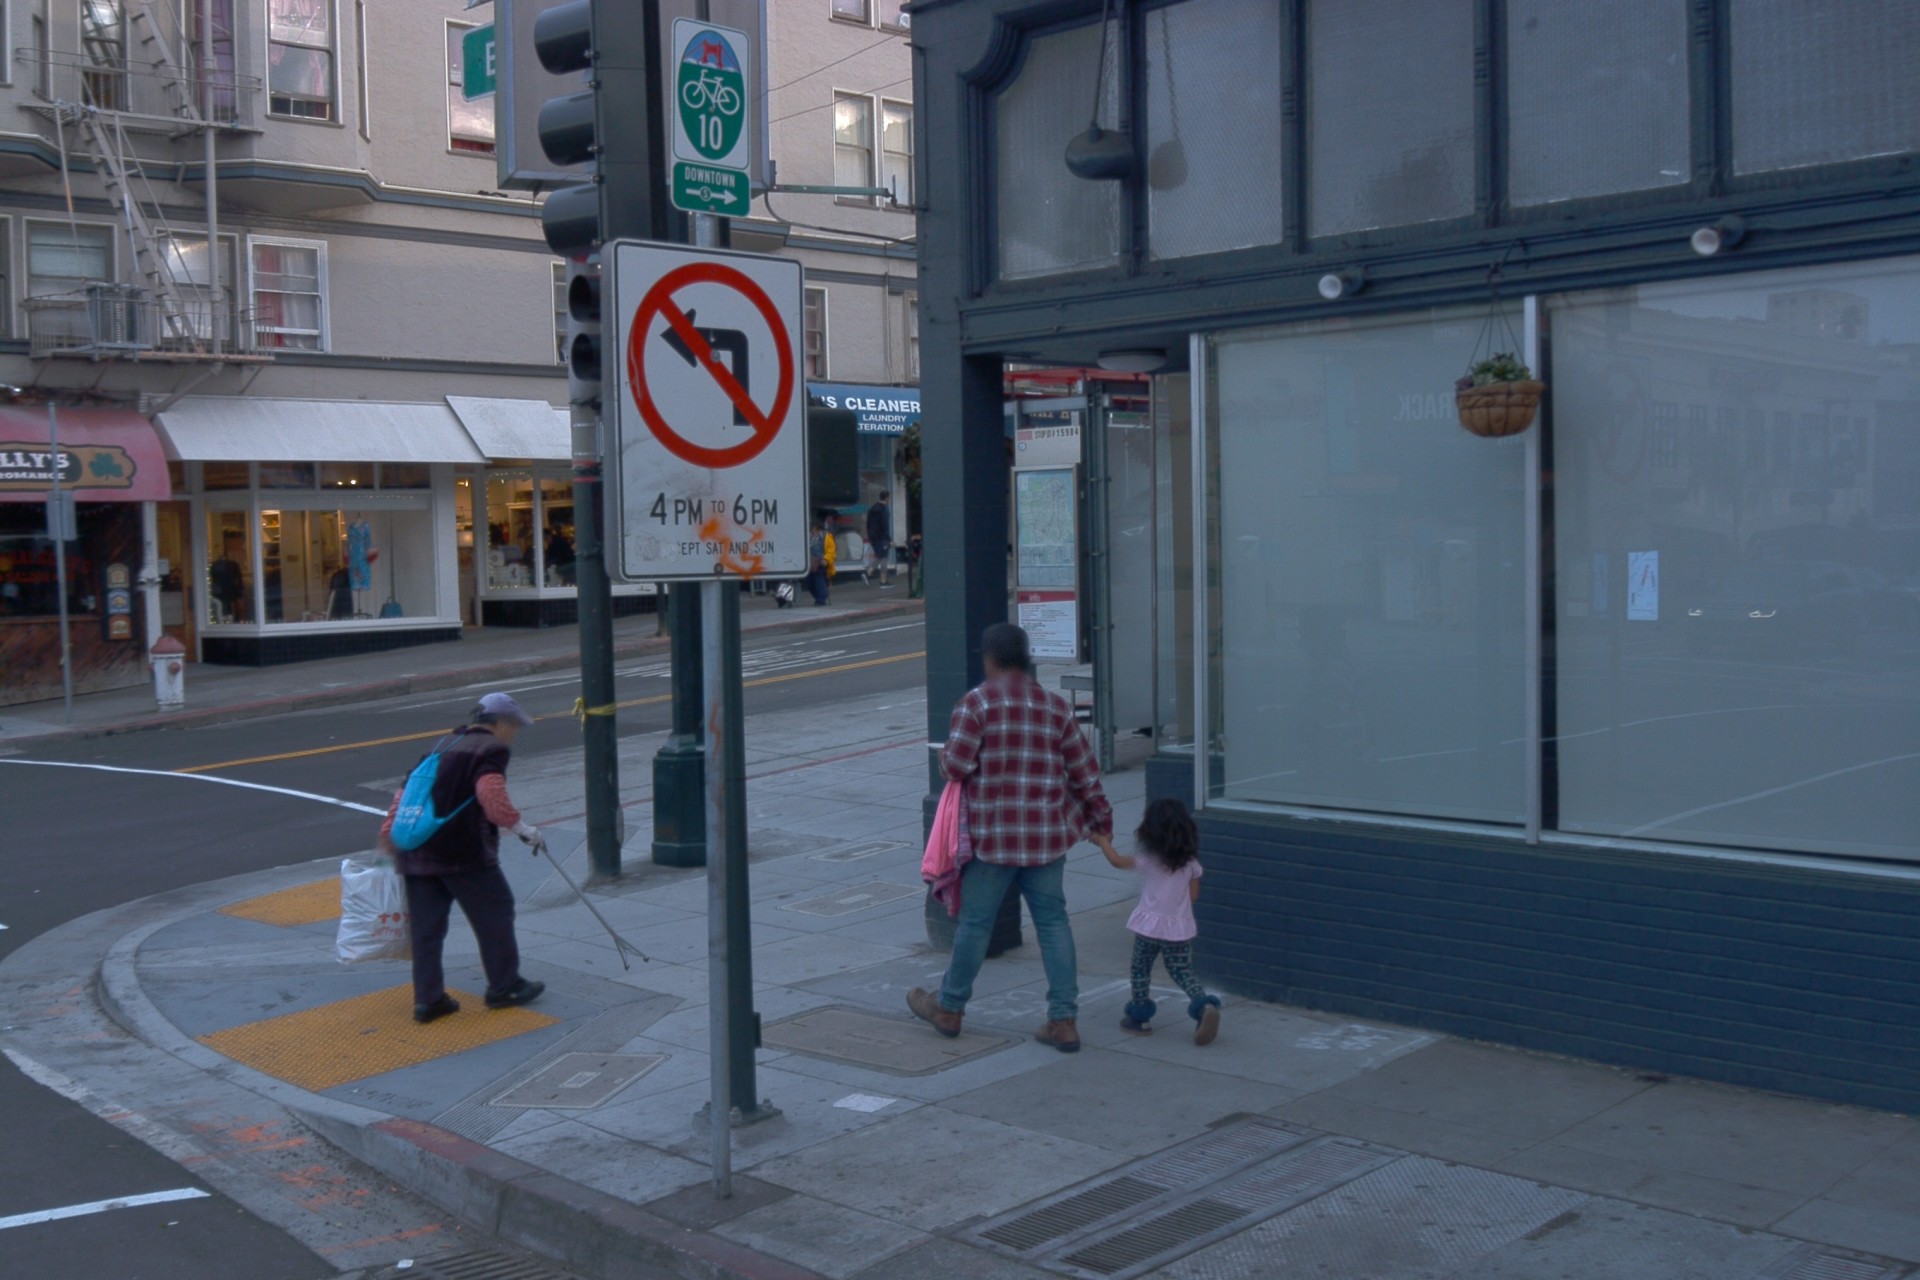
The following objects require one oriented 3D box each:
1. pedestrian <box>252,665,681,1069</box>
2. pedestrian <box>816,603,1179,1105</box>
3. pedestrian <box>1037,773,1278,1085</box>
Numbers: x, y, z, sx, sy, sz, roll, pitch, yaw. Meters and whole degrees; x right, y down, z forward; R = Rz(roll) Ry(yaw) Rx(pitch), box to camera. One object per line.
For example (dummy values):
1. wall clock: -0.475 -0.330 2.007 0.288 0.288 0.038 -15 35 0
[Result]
1. pedestrian: -2.256 0.942 9.407 1.353 1.630 1.390 1 1 44
2. pedestrian: 0.137 0.781 8.262 0.954 1.840 1.113 0 1 -38
3. pedestrian: 0.785 1.123 8.241 0.659 1.120 0.695 0 1 -35
